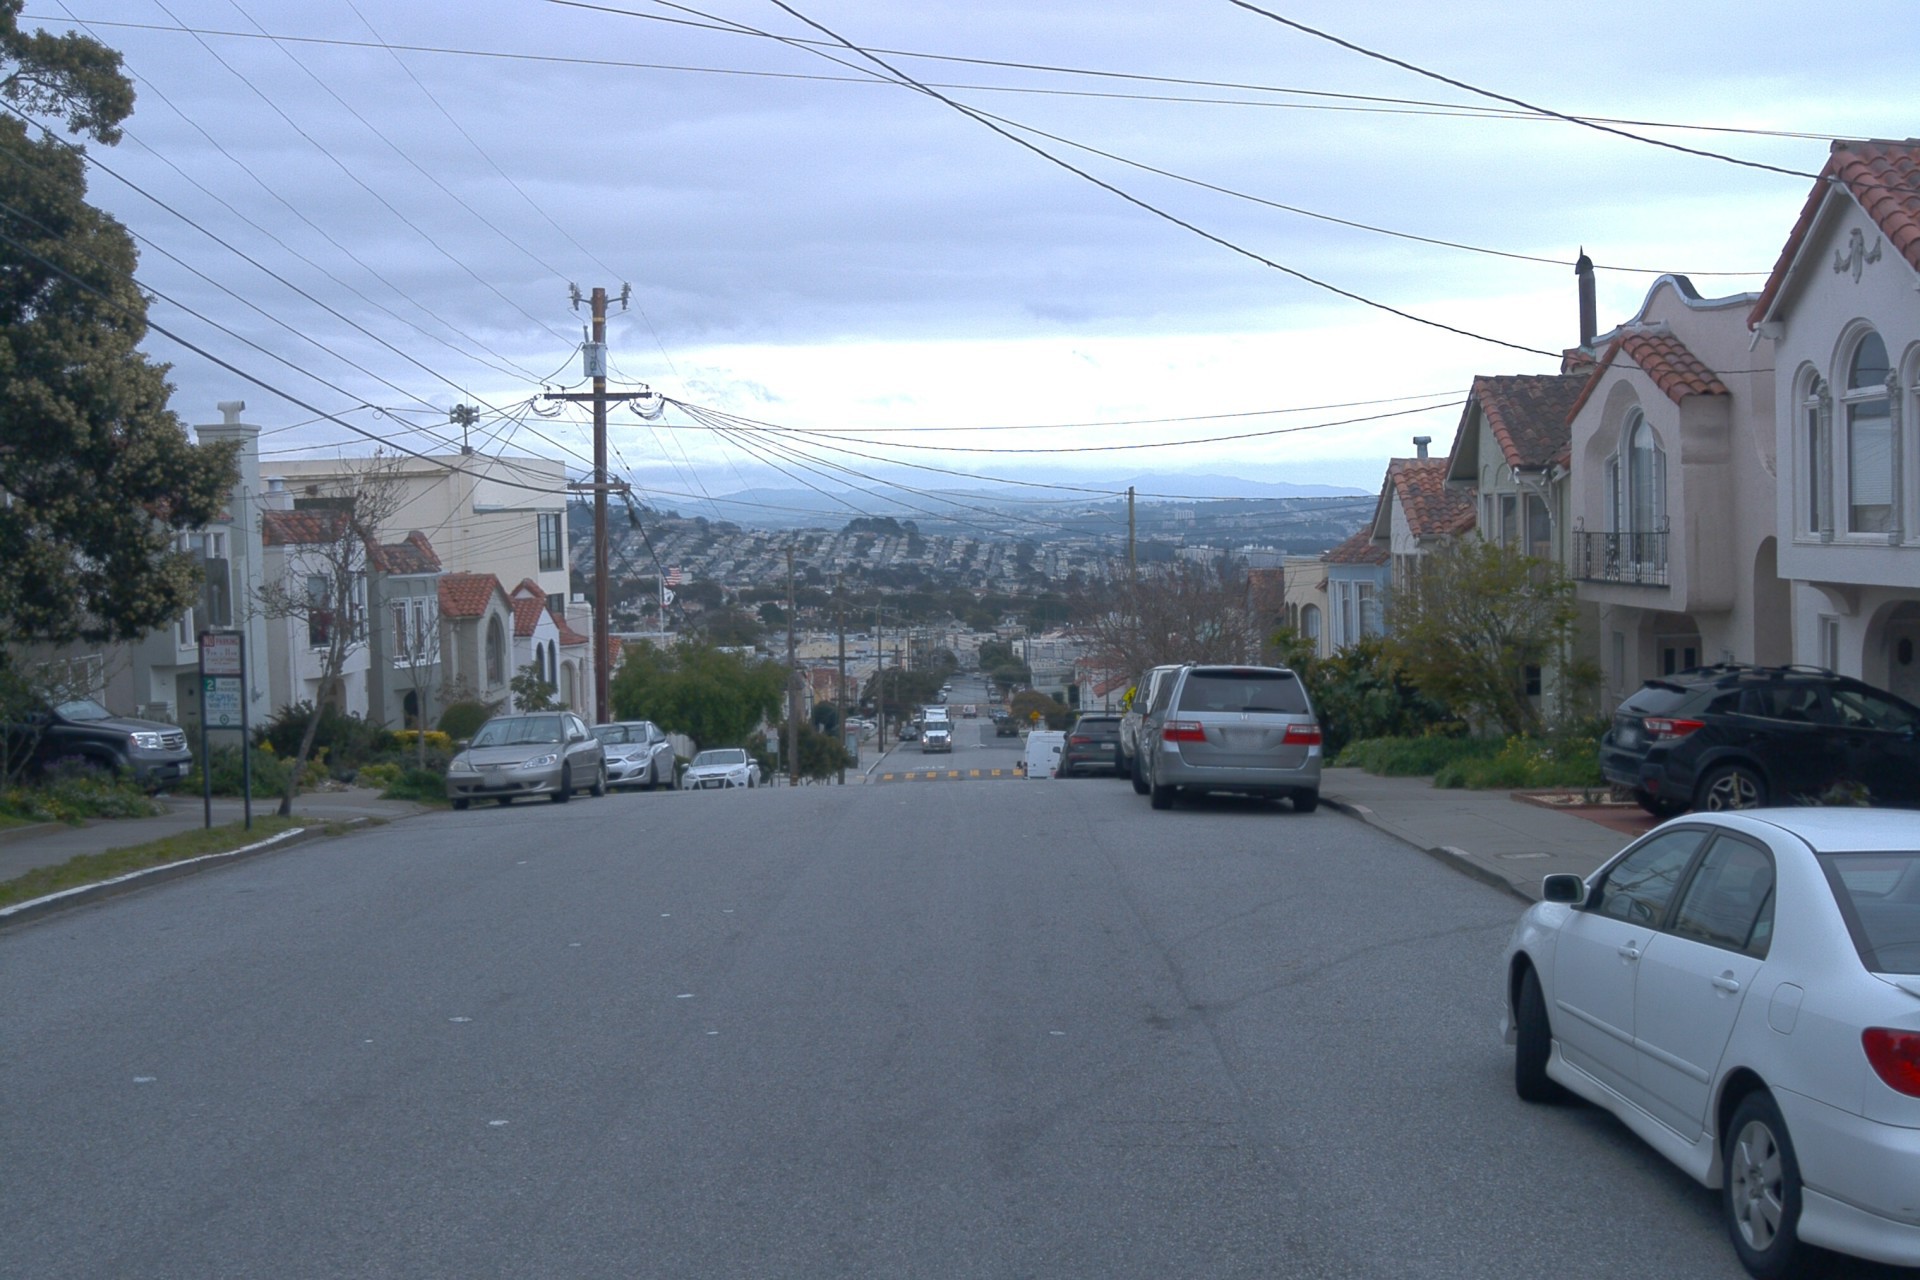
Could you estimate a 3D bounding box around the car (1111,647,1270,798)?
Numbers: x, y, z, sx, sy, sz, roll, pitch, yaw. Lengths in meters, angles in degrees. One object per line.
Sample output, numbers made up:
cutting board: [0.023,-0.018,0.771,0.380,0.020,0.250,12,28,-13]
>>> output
car: [3.513,1.210,32.206,1.936,2.170,4.666,0,0,0]

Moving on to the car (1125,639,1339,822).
car: [3.269,1.020,25.782,2.082,2.060,5.186,0,0,1]

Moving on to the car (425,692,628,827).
car: [-6.508,1.749,31.456,2.152,1.800,4.566,0,0,0]
